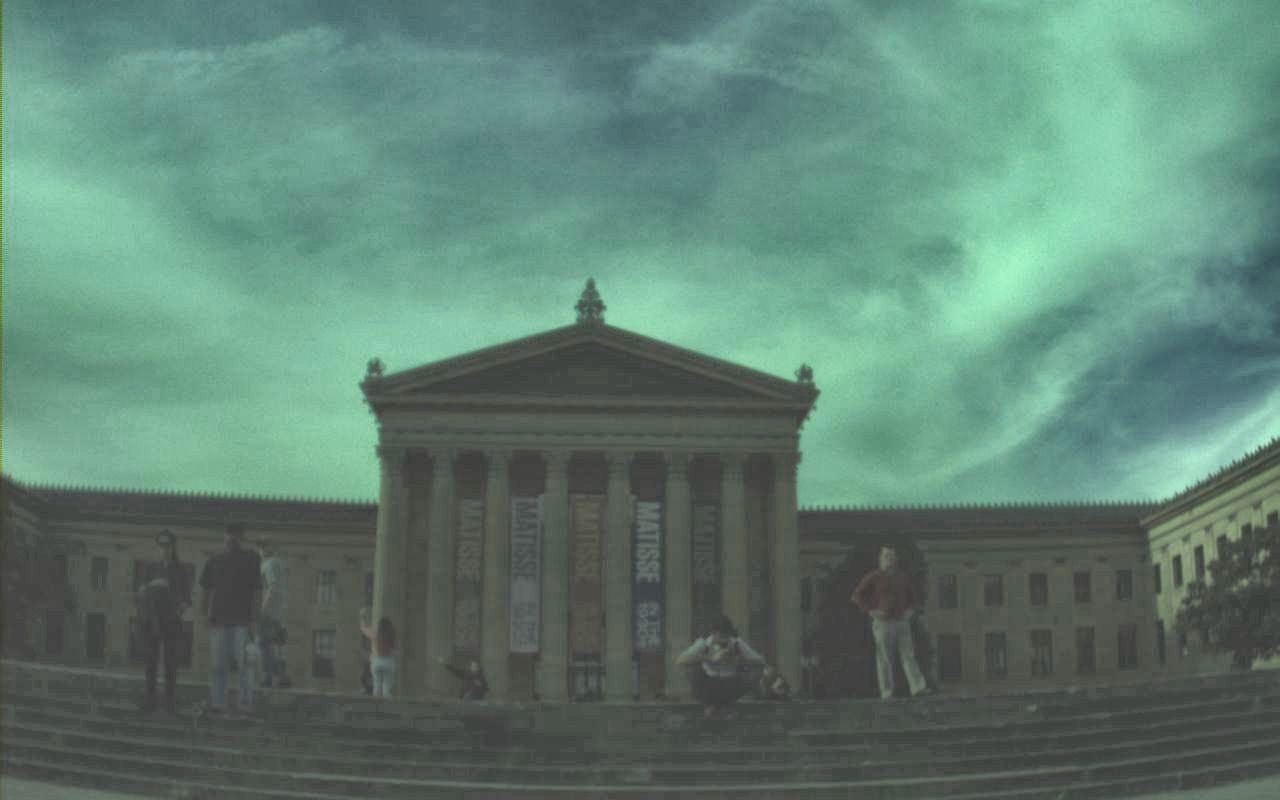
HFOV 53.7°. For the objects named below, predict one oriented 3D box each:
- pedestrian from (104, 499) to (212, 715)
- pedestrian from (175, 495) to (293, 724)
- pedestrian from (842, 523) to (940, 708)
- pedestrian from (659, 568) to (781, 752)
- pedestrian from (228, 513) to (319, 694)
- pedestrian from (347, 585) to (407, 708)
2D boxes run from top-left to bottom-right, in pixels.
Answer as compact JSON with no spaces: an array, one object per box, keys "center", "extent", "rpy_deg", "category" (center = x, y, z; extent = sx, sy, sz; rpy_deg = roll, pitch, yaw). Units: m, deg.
[{"center":[-4.239,1.824,10.187],"extent":[0.751,1.789,0.742],"rpy_deg":[0,0,-8],"category":"pedestrian"},{"center":[-3.498,1.800,10.193],"extent":[0.724,1.855,0.713],"rpy_deg":[0,0,9],"category":"pedestrian"},{"center":[2.631,2.267,12.920],"extent":[0.832,1.835,0.841],"rpy_deg":[0,0,0],"category":"pedestrian"},{"center":[0.692,2.253,10.783],"extent":[0.771,1.444,0.710],"rpy_deg":[1,0,43],"category":"pedestrian"},{"center":[-4.065,2.264,13.290],"extent":[0.844,1.899,0.809],"rpy_deg":[0,0,-6],"category":"pedestrian"},{"center":[-4.142,3.902,19.133],"extent":[0.787,1.815,0.794],"rpy_deg":[0,0,-3],"category":"pedestrian"}]
